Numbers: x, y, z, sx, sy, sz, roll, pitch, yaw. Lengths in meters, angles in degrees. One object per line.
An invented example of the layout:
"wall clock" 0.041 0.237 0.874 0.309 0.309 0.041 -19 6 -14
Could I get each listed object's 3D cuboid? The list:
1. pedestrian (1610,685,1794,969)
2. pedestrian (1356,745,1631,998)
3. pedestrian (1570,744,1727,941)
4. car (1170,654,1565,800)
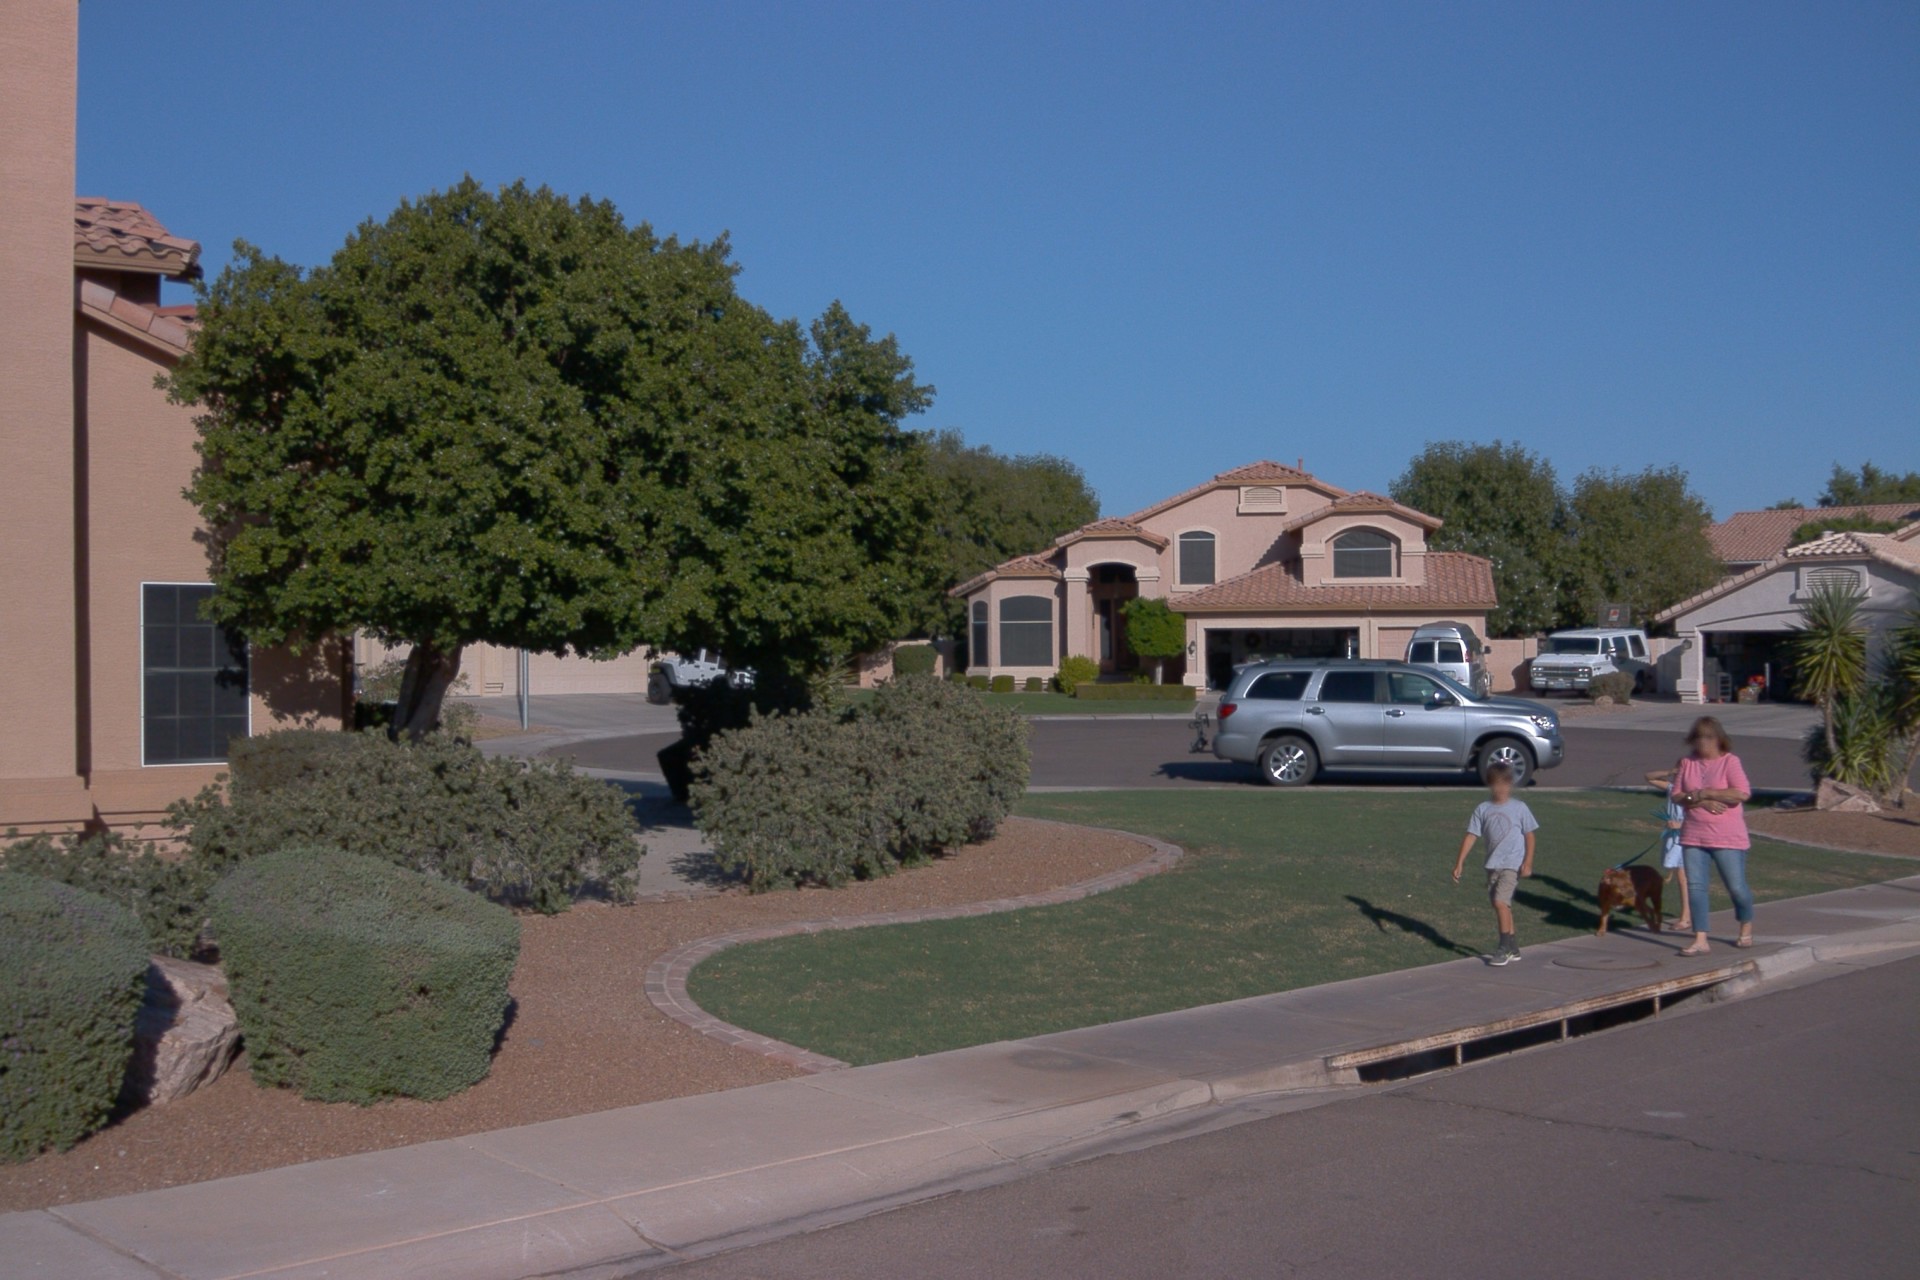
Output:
"pedestrian" 5.017 1.217 14.064 0.881 1.800 0.952 0 0 40
"pedestrian" 3.476 1.462 13.598 1.267 1.460 1.199 0 0 -34
"pedestrian" 5.074 1.463 15.342 0.842 1.340 0.783 0 0 -42
"car" 6.245 1.258 31.839 5.682 2.060 2.564 0 0 13
